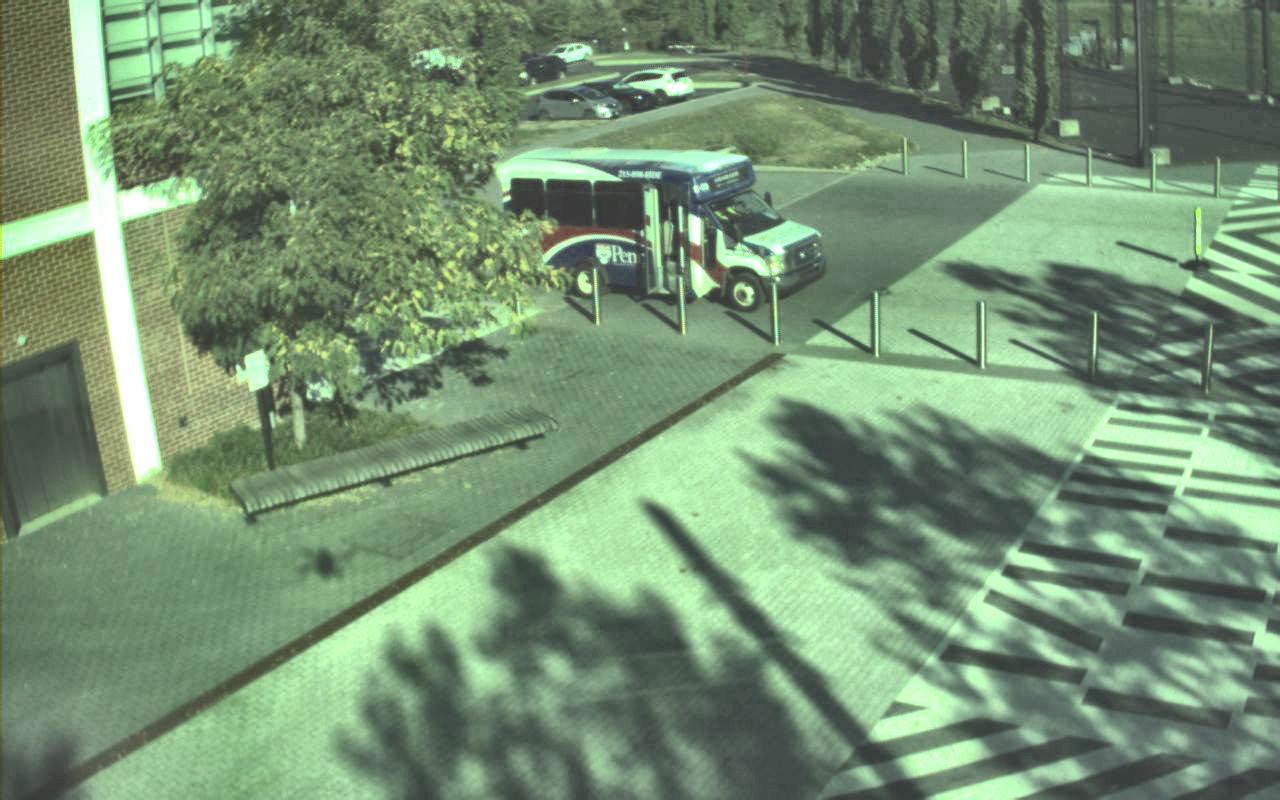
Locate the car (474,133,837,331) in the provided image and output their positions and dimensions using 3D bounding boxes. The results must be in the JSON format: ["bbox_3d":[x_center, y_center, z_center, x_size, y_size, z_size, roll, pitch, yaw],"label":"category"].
[{"bbox_3d":[0.215,-3.495,24.542,6.773,3.007,2.632,10,20,33],"label":"car"}]

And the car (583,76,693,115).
[{"bbox_3d":[-0.120,-14.156,57.625,4.670,1.682,2.033,7,18,25],"label":"car"}]
